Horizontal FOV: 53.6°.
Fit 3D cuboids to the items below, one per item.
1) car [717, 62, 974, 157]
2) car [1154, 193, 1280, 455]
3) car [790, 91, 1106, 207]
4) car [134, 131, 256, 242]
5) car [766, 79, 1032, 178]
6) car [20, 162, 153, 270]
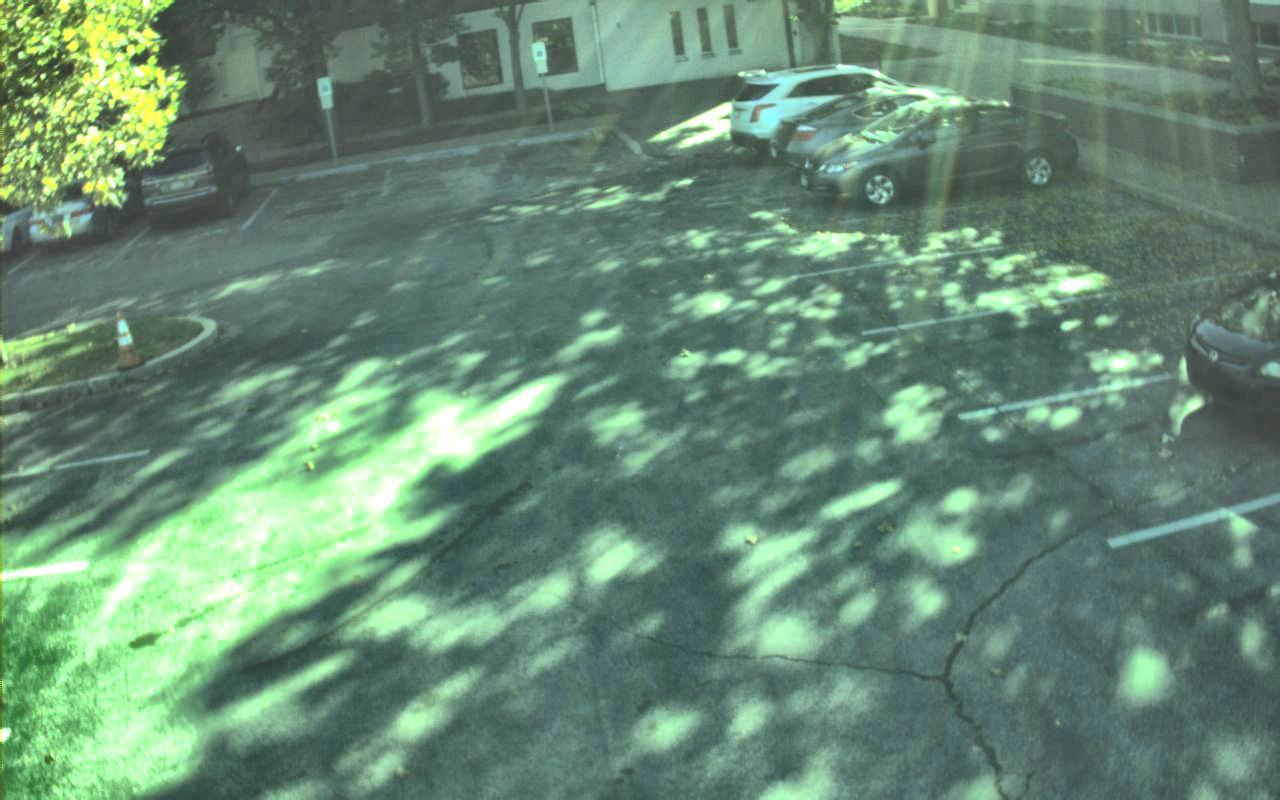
[{"bbox_3d":[3.947,-5.626,23.609,4.598,1.665,1.989,-4,17,-11],"label":"car"},{"bbox_3d":[6.730,-0.770,9.153,4.557,1.596,1.977,-4,16,-9],"label":"car"},{"bbox_3d":[4.802,-3.947,18.956,4.649,1.561,1.987,-4,16,-8],"label":"car"},{"bbox_3d":[-9.822,-4.790,26.298,2.013,1.784,4.610,-4,17,-10],"label":"car"},{"bbox_3d":[4.485,-4.740,21.226,4.289,1.535,1.914,-4,16,-9],"label":"car"},{"bbox_3d":[-12.424,-4.159,25.866,1.964,1.642,4.506,-4,17,-8],"label":"car"}]
